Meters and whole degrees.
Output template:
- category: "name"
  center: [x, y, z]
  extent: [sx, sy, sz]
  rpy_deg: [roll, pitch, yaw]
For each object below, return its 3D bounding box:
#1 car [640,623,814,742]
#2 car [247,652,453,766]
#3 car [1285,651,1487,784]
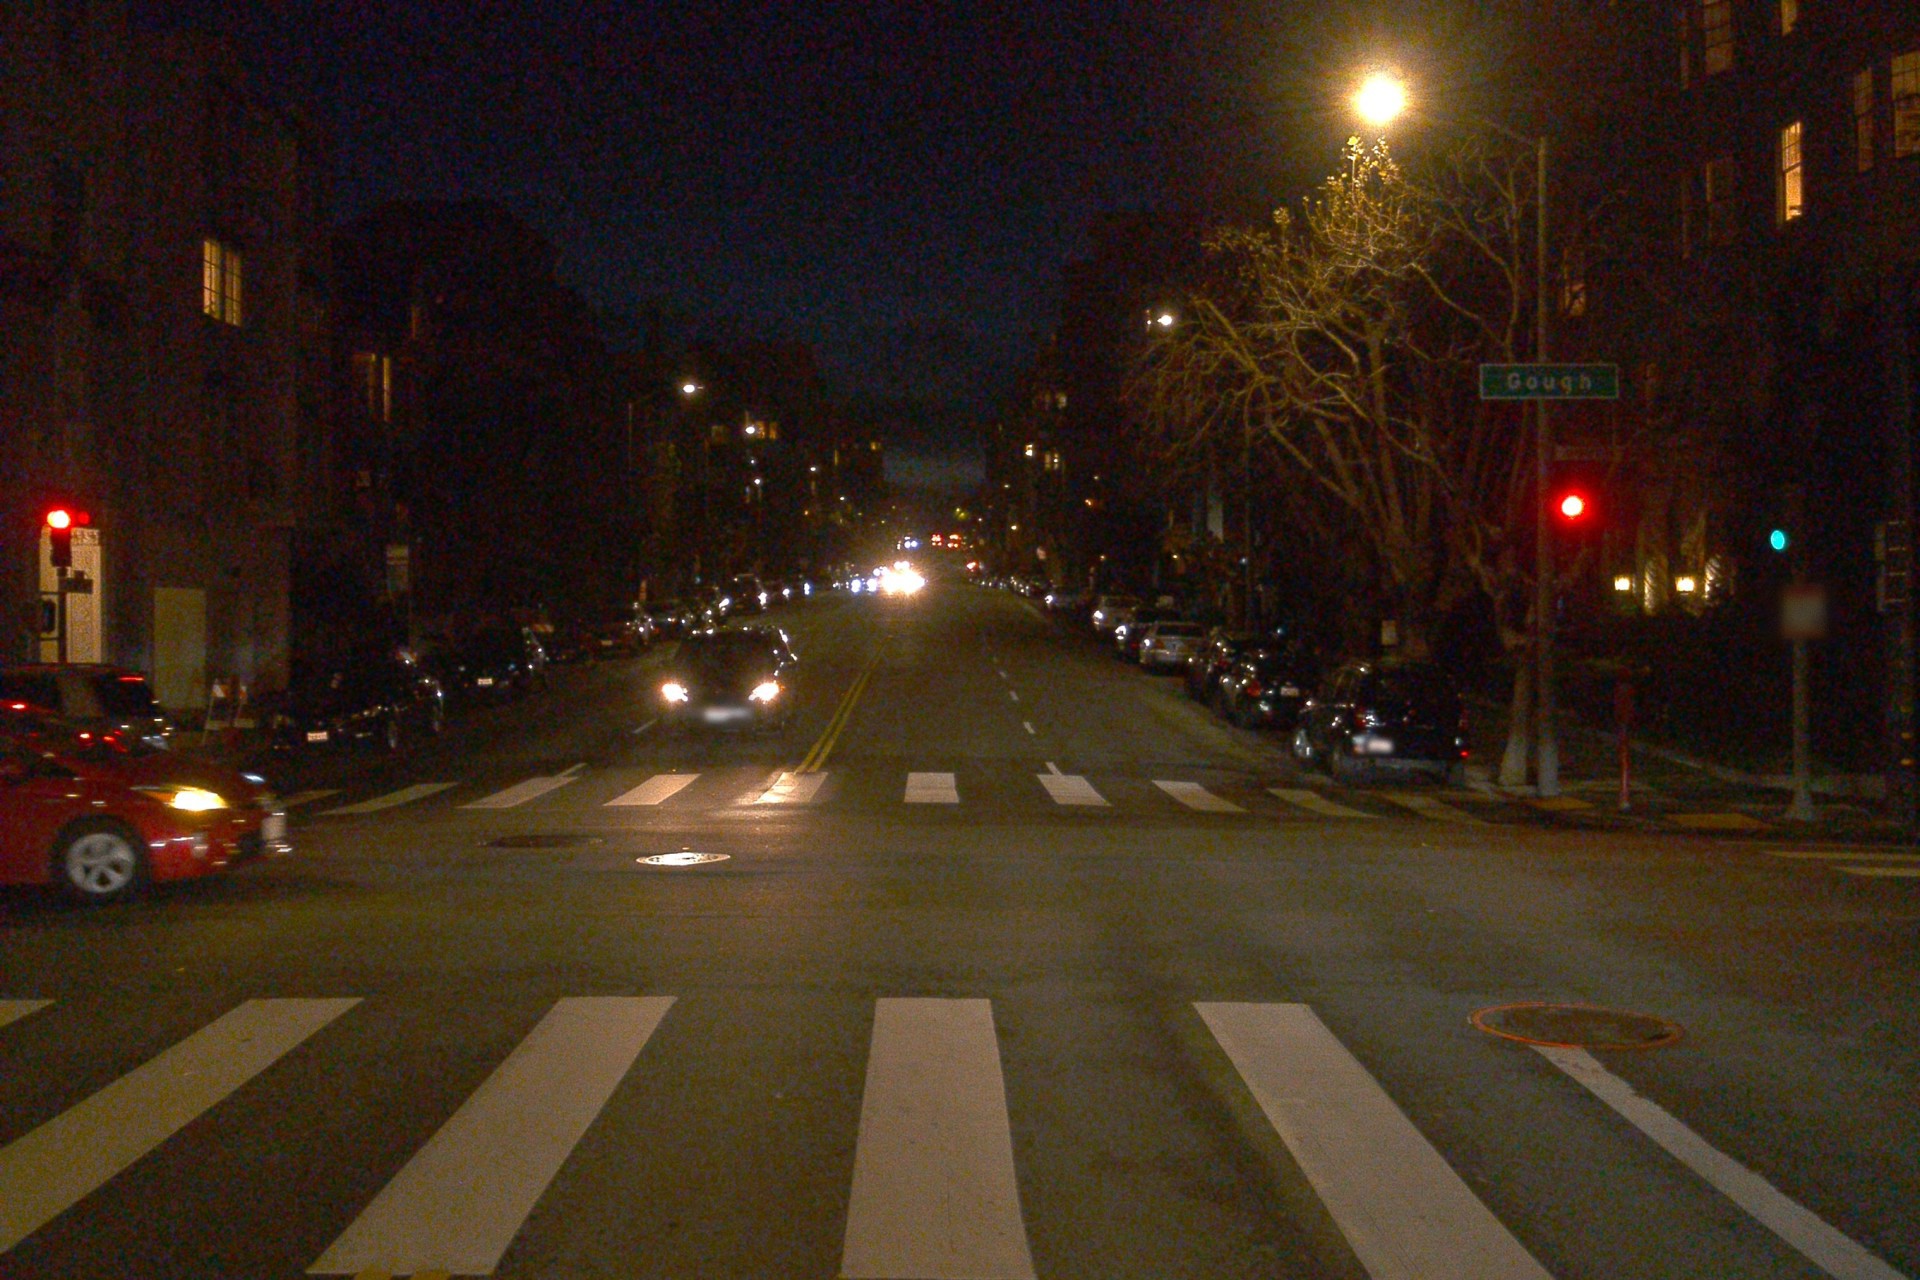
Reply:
- category: "car"
  center: [-3.775, 0.637, 34.216]
  extent: [2.293, 1.803, 4.677]
  rpy_deg: [1, 0, 0]
- category: "car"
  center: [-10.034, 1.084, 34.252]
  extent: [2.045, 1.673, 4.519]
  rpy_deg: [1, 0, 0]
- category: "car"
  center: [6.096, 1.069, 29.923]
  extent: [1.802, 1.714, 4.078]
  rpy_deg: [1, 0, -4]
